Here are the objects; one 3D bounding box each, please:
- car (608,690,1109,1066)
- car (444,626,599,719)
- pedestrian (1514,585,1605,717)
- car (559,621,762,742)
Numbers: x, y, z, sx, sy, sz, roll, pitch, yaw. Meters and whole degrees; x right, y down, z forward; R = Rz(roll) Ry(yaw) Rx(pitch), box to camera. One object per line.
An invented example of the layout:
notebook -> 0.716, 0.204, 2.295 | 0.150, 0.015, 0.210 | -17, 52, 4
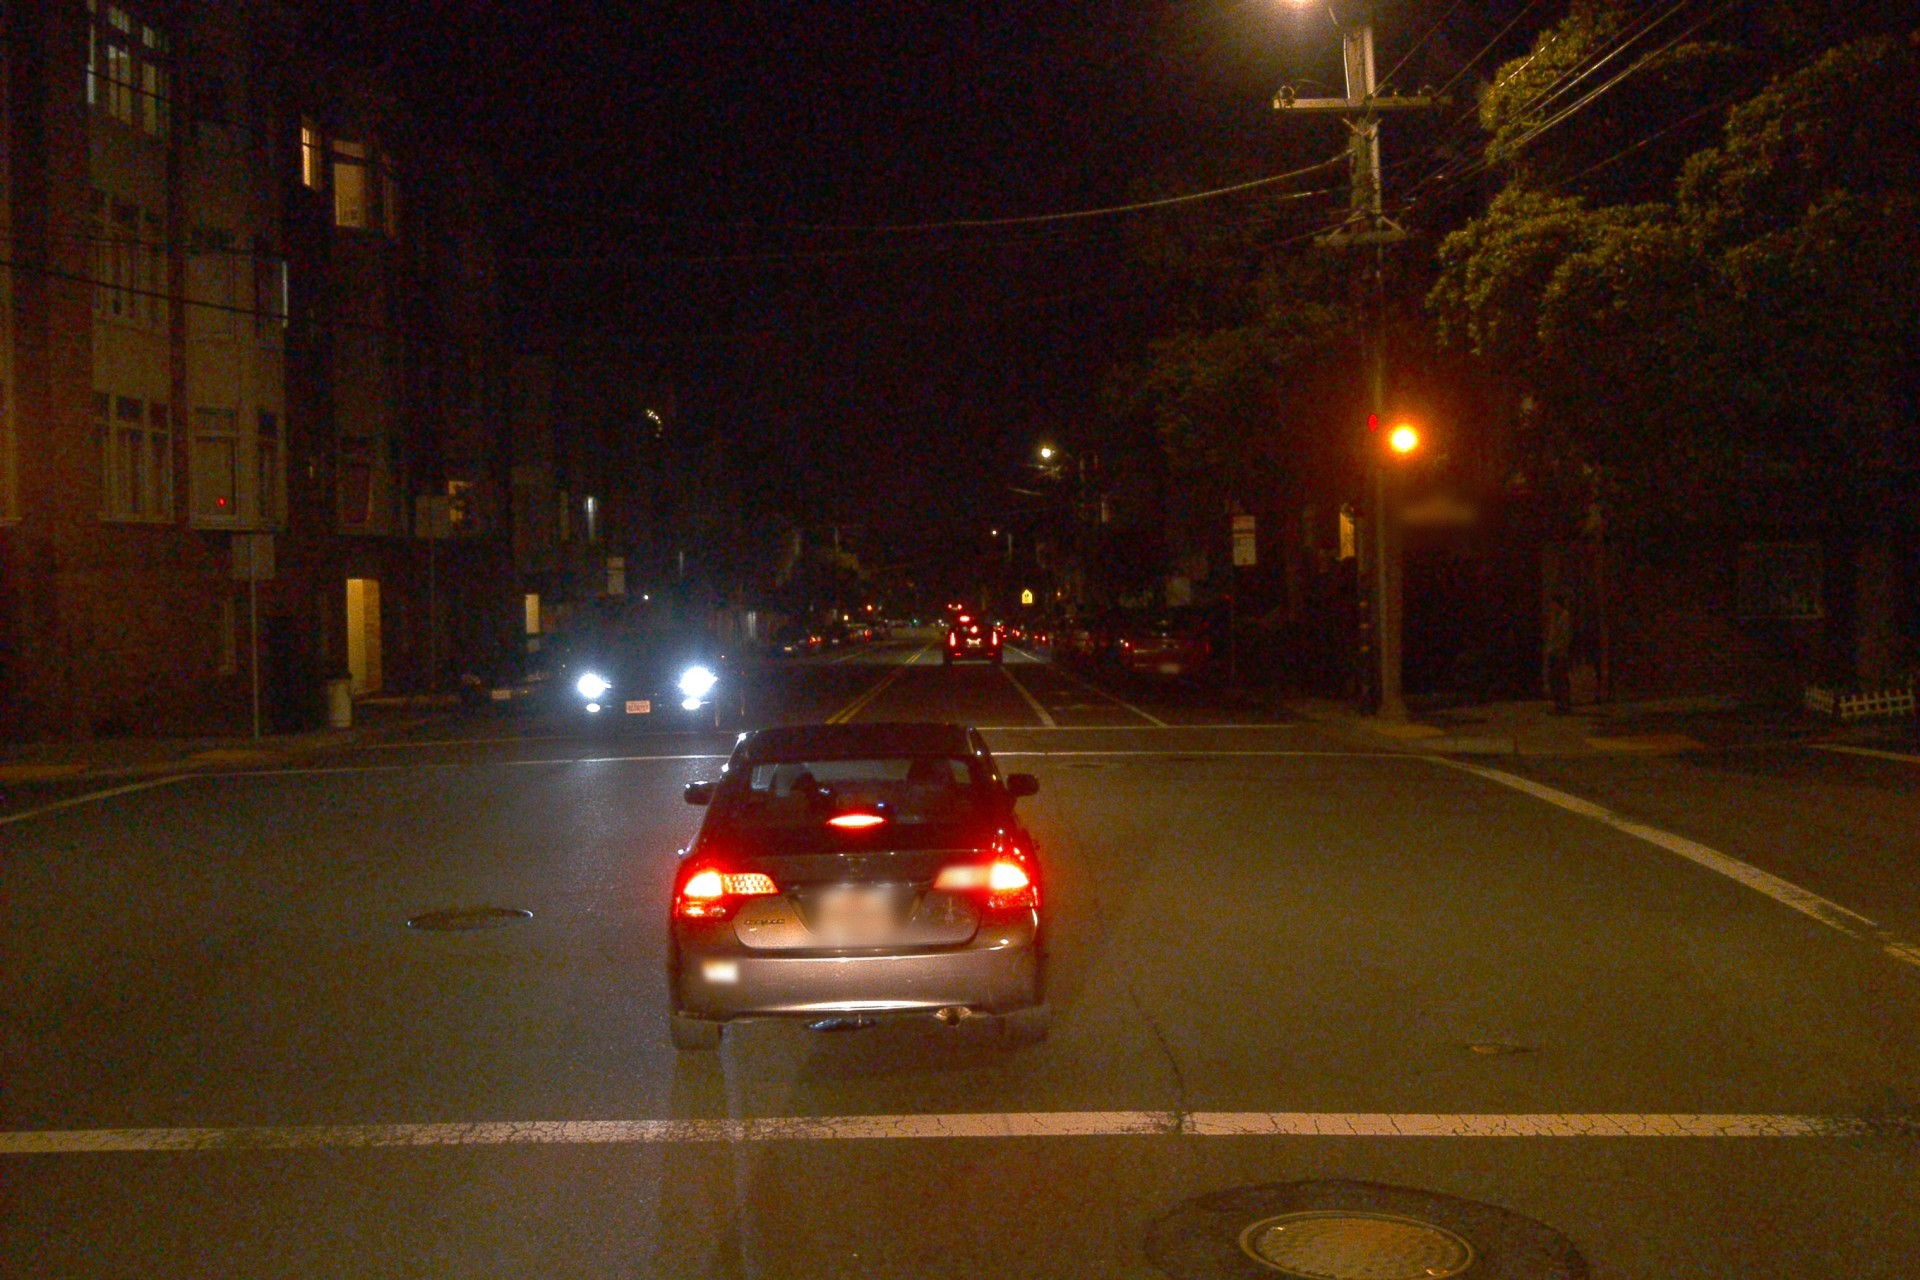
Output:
car -> -0.495, 1.049, 10.799 | 2.070, 1.420, 4.588 | 0, 0, -2
car -> -7.901, 0.552, 37.178 | 1.948, 1.580, 4.098 | 1, 0, 0
pedestrian -> 7.831, 0.144, 26.729 | 0.936, 1.691, 0.623 | 0, 0, -16
car -> -4.137, 0.528, 29.013 | 2.150, 1.560, 4.641 | 1, 0, 1
